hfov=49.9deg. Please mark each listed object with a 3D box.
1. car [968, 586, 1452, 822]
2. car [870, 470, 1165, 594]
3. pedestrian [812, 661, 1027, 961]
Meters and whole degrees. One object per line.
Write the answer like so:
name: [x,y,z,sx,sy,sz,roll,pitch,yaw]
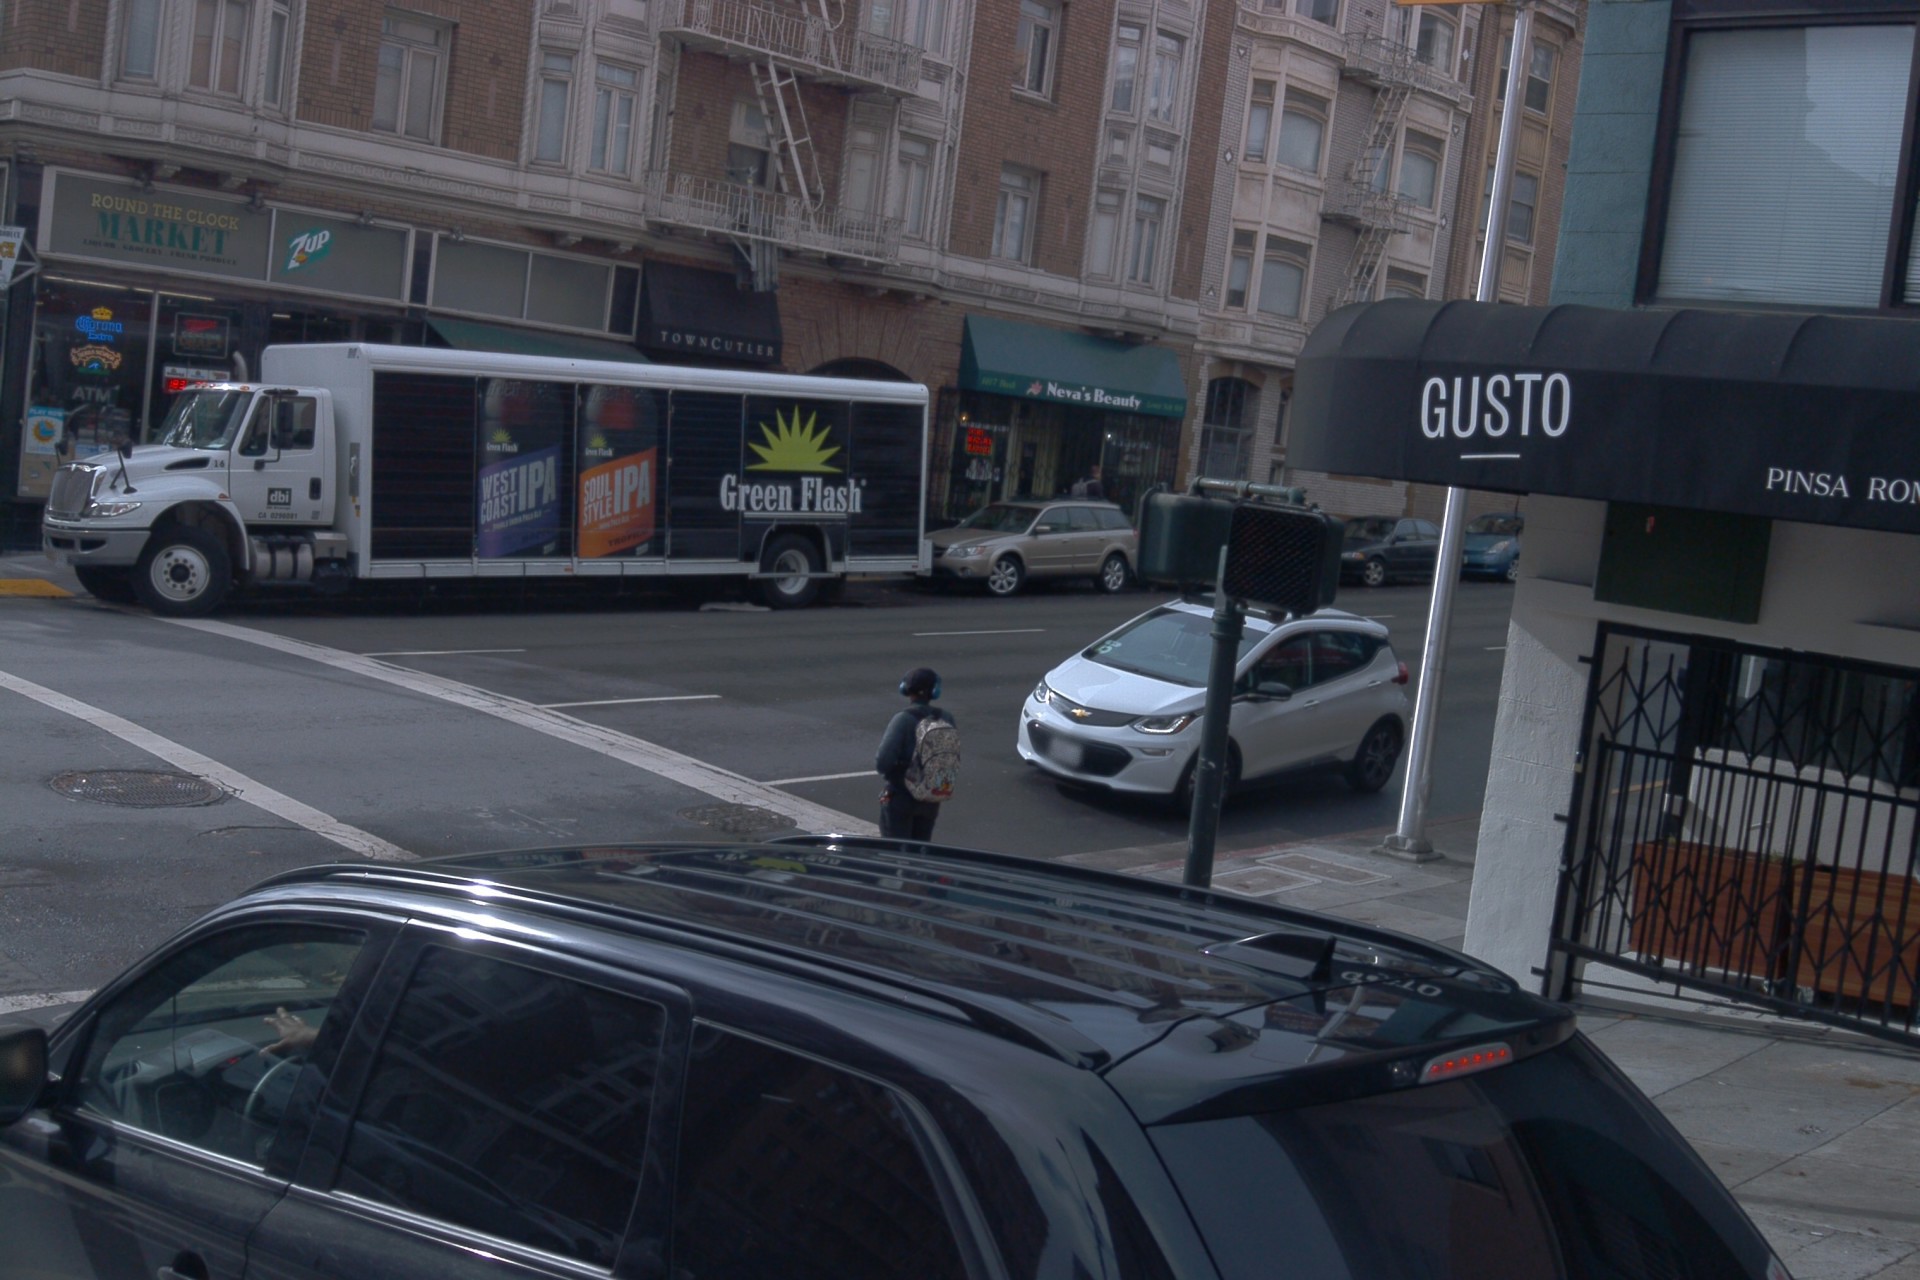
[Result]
car: [2.269,0.473,17.874,2.062,1.780,4.279,2,1,42]
car: [1.011,-1.694,33.638,2.182,1.770,4.833,2,1,42]
pedestrian: [-0.232,0.929,11.693,0.929,1.590,0.750,2,1,43]
